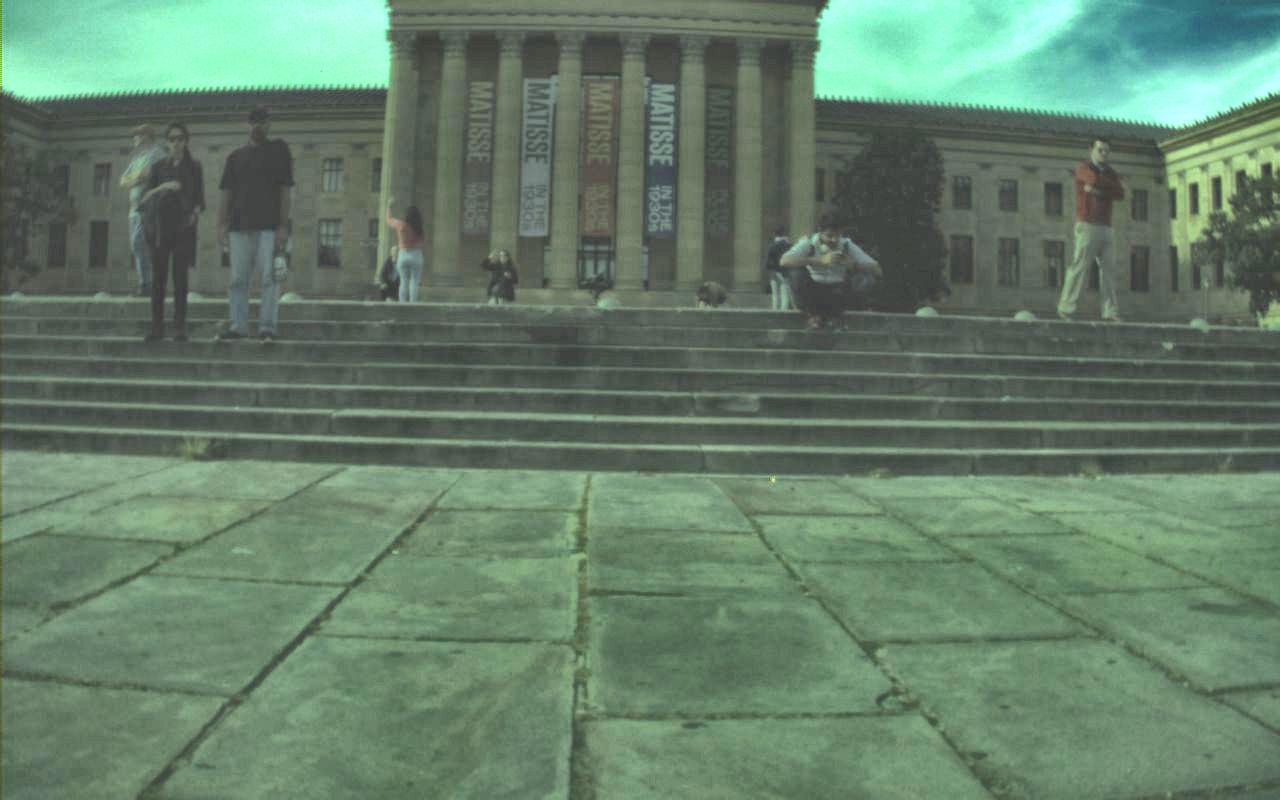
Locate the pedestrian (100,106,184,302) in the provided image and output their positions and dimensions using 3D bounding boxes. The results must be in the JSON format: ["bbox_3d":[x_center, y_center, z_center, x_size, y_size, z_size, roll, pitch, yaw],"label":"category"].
[{"bbox_3d":[-4.958,-1.905,11.569,0.770,1.886,0.761,0,0,-21],"label":"pedestrian"}]

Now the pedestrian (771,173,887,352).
[{"bbox_3d":[1.413,-1.013,9.452,0.844,1.291,0.756,0,0,5],"label":"pedestrian"}]

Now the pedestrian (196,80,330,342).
[{"bbox_3d":[-2.738,-1.331,8.746,0.740,1.824,0.735,0,0,2],"label":"pedestrian"}]

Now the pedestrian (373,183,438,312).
[{"bbox_3d":[-3.421,-2.186,17.993,0.777,1.802,0.794,0,0,-22],"label":"pedestrian"}]

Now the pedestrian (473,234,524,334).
[{"bbox_3d":[-2.479,-2.019,21.984,0.829,1.701,0.824,0,0,-4],"label":"pedestrian"}]

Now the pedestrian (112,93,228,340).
[{"bbox_3d":[-3.488,-1.320,8.721,0.723,1.773,0.723,0,0,-12],"label":"pedestrian"}]

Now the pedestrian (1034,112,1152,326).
[{"bbox_3d":[4.078,-1.573,10.683,0.824,1.827,0.811,1,0,42],"label":"pedestrian"}]

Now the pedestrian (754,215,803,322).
[{"bbox_3d":[2.379,-2.239,21.560,0.736,1.768,0.743,0,0,16],"label":"pedestrian"}]
